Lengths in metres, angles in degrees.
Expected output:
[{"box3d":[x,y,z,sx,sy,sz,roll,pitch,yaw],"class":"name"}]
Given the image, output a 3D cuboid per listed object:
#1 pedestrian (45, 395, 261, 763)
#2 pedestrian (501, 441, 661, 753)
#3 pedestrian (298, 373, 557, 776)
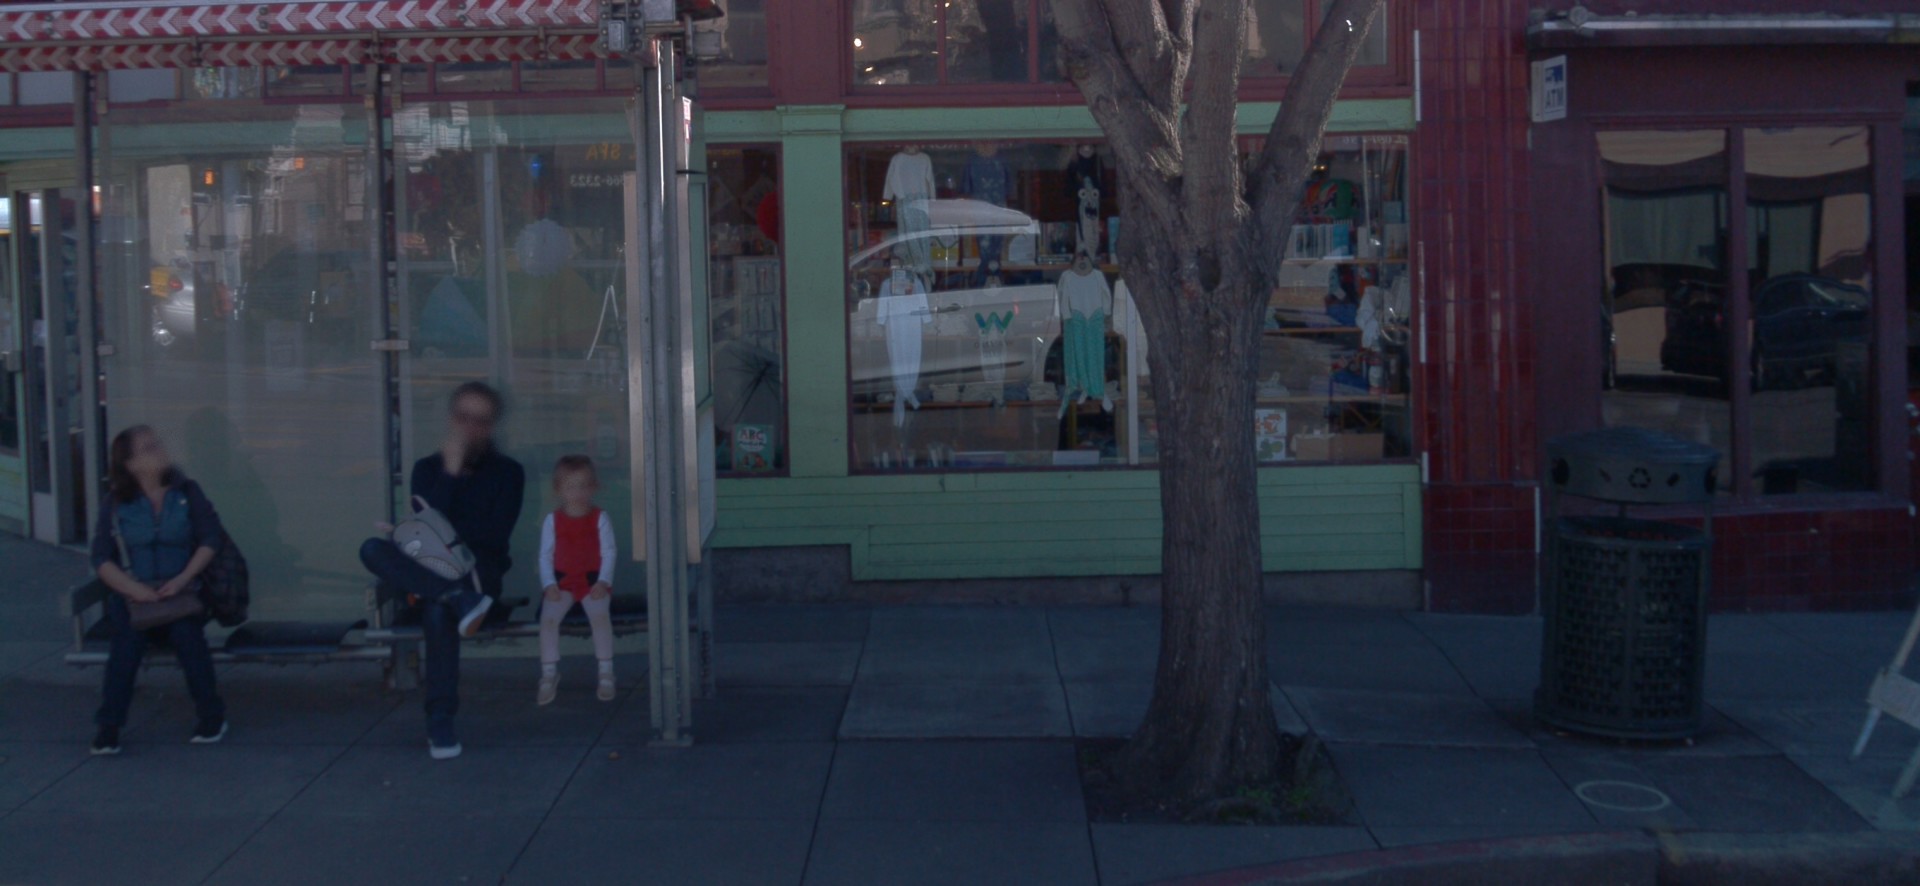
[{"box3d":[-3.126,0.487,8.060,0.737,1.258,0.794,-1,2,-19],"class":"pedestrian"},{"box3d":[-1.462,0.577,8.027,0.528,1.098,0.572,0,2,-3],"class":"pedestrian"},{"box3d":[-2.032,0.465,7.999,0.753,1.398,0.926,0,2,0],"class":"pedestrian"}]
